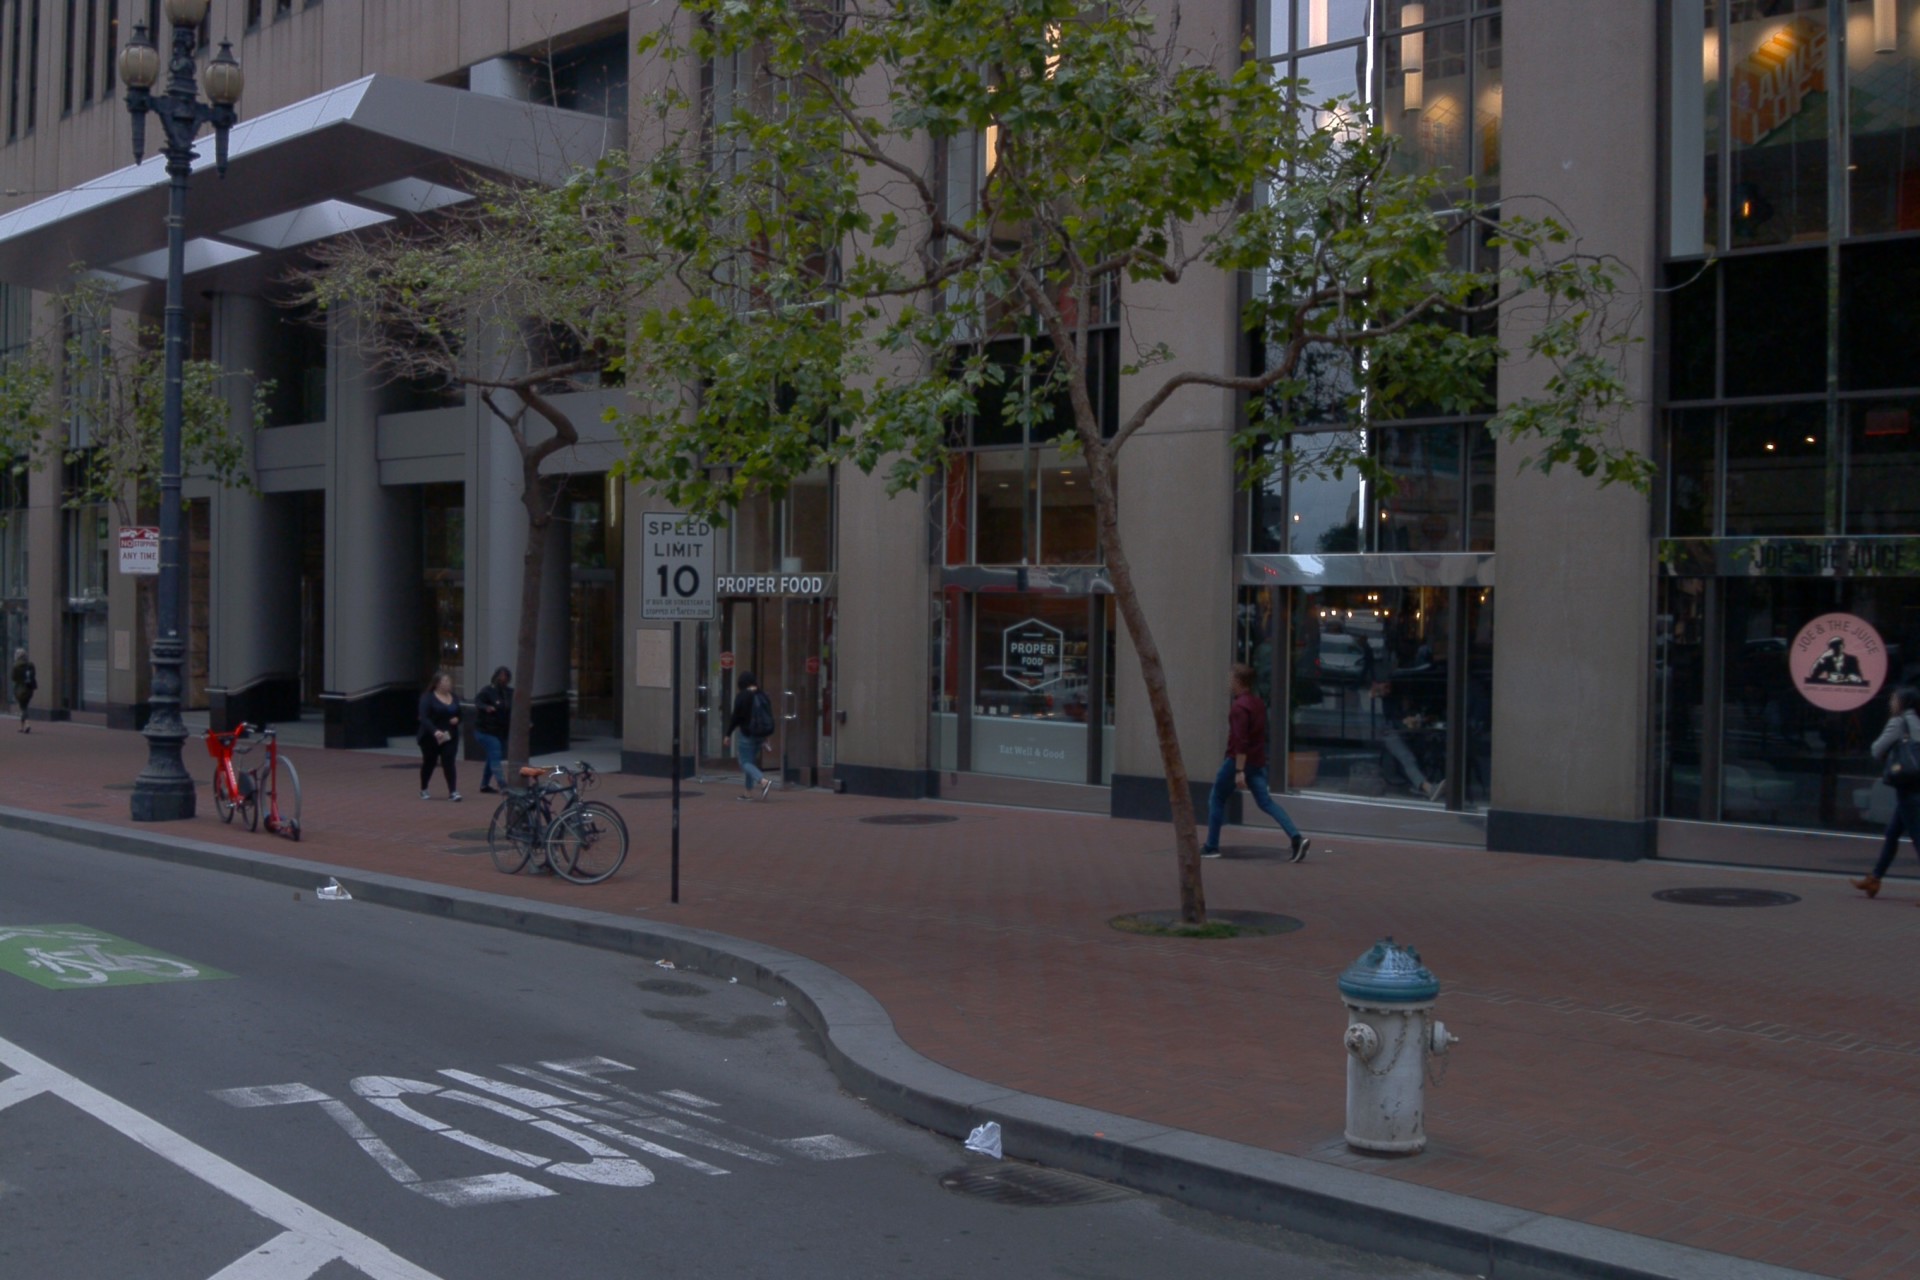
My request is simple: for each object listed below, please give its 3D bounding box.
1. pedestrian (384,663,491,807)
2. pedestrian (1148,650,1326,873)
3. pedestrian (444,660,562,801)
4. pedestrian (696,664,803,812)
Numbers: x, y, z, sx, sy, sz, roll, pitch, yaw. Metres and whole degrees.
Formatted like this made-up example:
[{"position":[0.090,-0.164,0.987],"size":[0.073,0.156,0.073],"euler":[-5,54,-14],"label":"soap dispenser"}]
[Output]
[{"position":[-6.424,1.147,25.180],"size":[0.894,1.710,1.015],"euler":[0,0,-43],"label":"pedestrian"},{"position":[2.488,1.053,18.434],"size":[1.272,1.910,0.944],"euler":[0,0,41],"label":"pedestrian"},{"position":[-5.761,1.116,25.807],"size":[0.901,1.700,1.319],"euler":[0,0,-44],"label":"pedestrian"},{"position":[-2.519,1.146,24.544],"size":[0.846,1.710,0.984],"euler":[0,0,-45],"label":"pedestrian"}]
